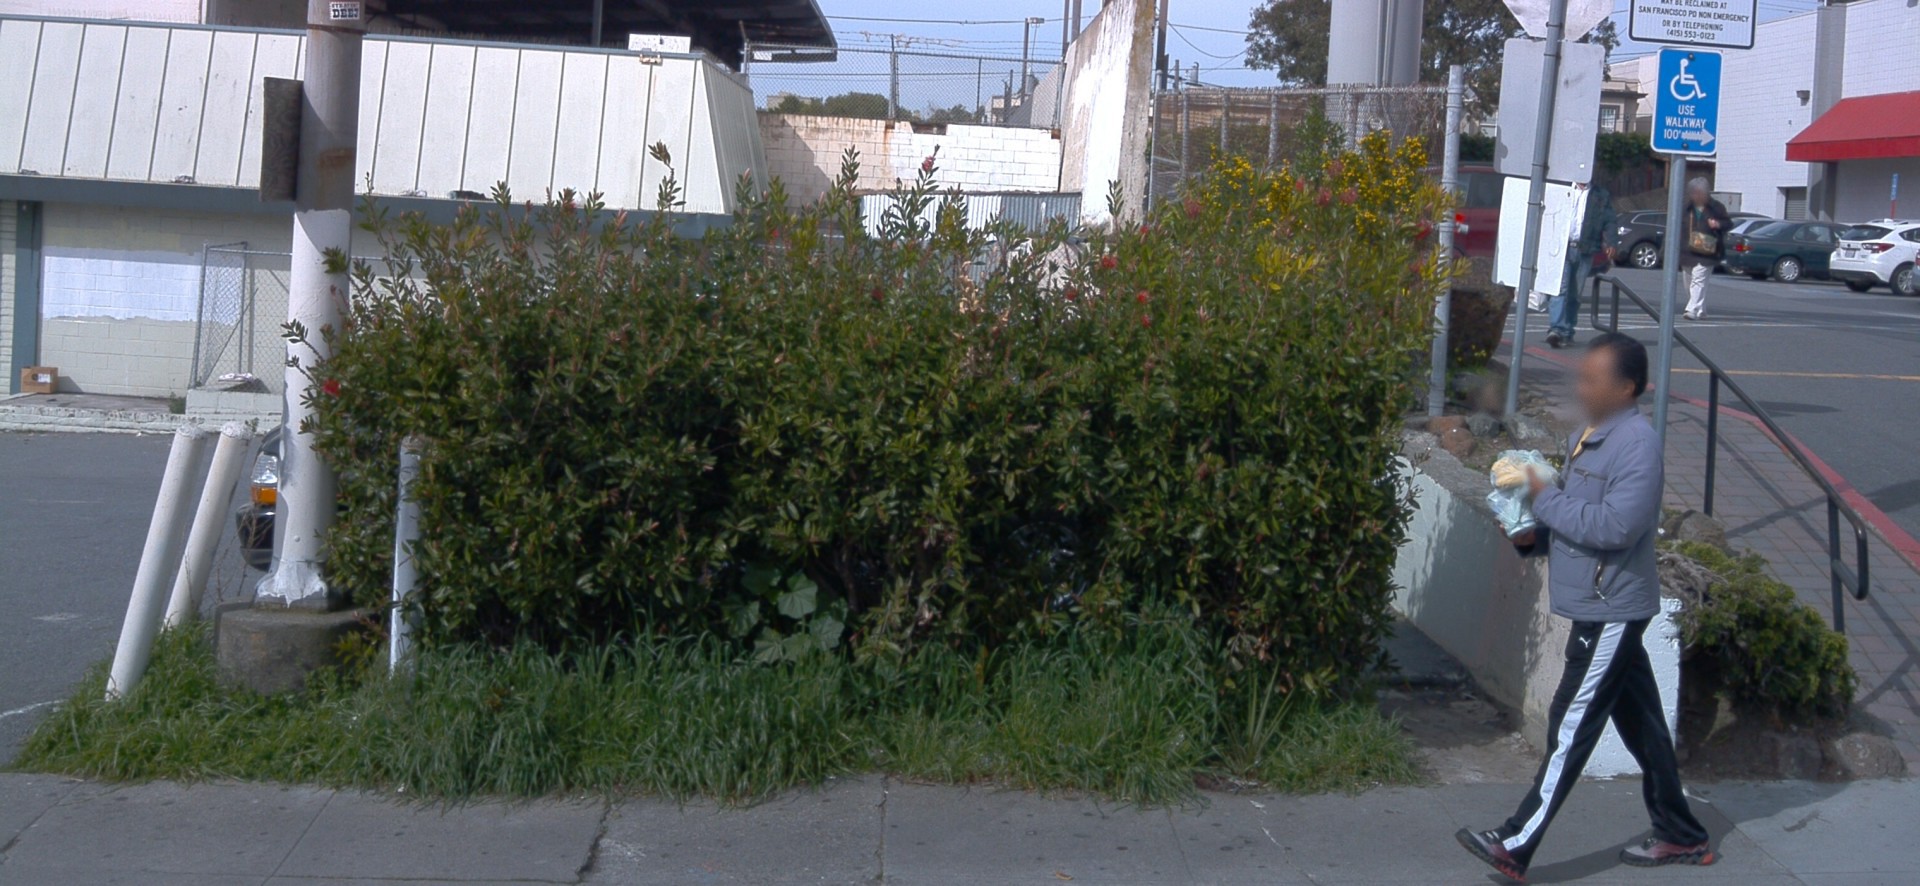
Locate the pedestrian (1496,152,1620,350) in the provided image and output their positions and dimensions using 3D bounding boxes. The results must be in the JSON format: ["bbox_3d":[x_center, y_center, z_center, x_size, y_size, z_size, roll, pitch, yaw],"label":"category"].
[{"bbox_3d":[5.208,-1.675,17.996,1.009,1.670,0.952,0,1,16],"label":"pedestrian"}]

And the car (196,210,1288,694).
[{"bbox_3d":[-0.974,-0.071,10.101,4.799,2.108,2.006,0,3,-2],"label":"car"}]

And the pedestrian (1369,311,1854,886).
[{"bbox_3d":[1.988,0.489,6.361,1.077,1.743,0.944,-1,2,-28],"label":"pedestrian"}]

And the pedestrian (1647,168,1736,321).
[{"bbox_3d":[8.260,-2.237,23.297,0.869,1.685,0.833,1,1,26],"label":"pedestrian"}]

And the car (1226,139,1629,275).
[{"bbox_3d":[6.074,-3.095,27.233,4.792,1.717,2.140,0,3,-3],"label":"car"}]
